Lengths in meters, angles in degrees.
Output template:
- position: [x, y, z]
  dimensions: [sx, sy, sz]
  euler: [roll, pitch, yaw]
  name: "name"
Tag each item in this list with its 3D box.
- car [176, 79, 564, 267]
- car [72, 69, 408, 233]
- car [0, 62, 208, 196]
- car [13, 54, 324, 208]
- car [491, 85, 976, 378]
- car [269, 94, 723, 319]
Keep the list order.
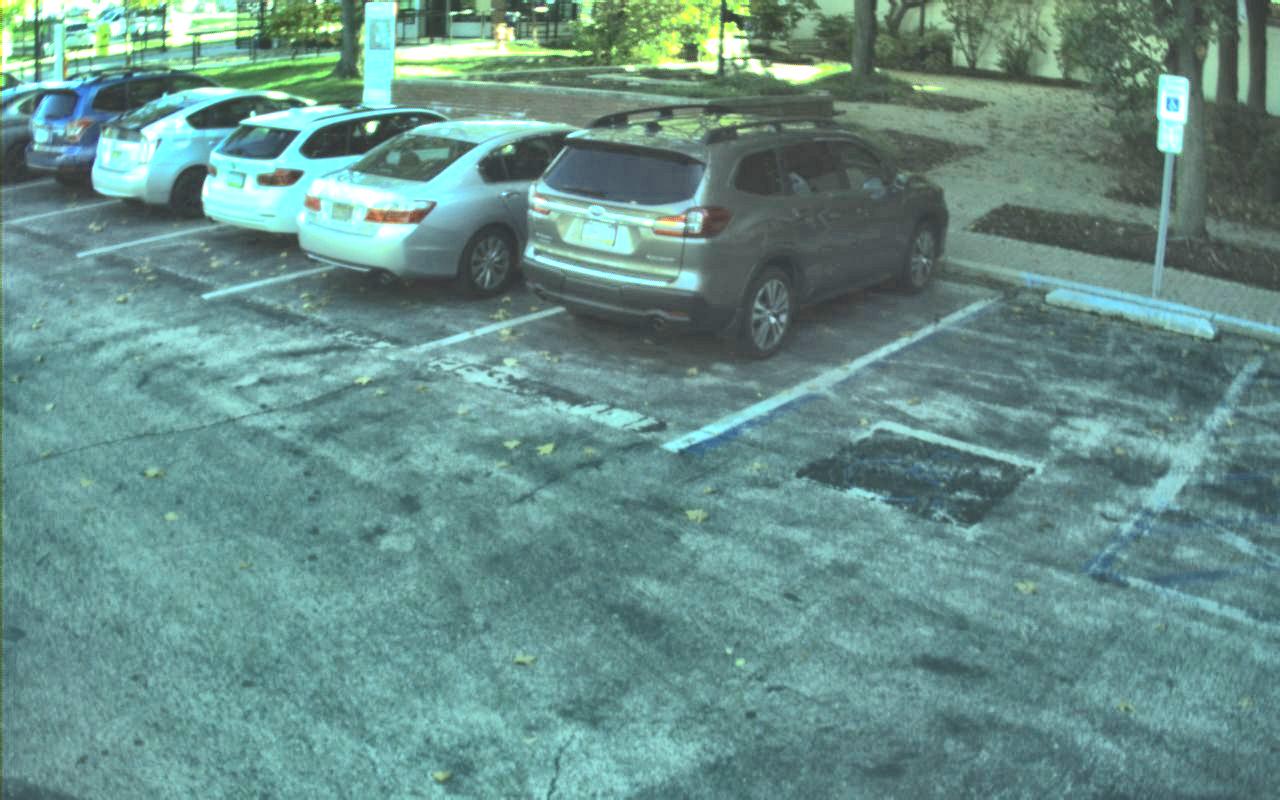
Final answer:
- position: [-3.026, -2.750, 14.101]
  dimensions: [1.904, 1.581, 4.357]
  euler: [11, 20, 36]
  name: "car"
- position: [-5.237, -3.353, 15.646]
  dimensions: [1.880, 1.580, 4.307]
  euler: [11, 20, 35]
  name: "car"
- position: [-9.407, -4.474, 18.558]
  dimensions: [1.939, 1.586, 4.440]
  euler: [11, 21, 37]
  name: "car"
- position: [-6.993, -4.021, 17.197]
  dimensions: [1.955, 1.687, 4.456]
  euler: [12, 21, 38]
  name: "car"
- position: [1.102, -1.737, 10.850]
  dimensions: [2.022, 1.767, 4.744]
  euler: [11, 20, 35]
  name: "car"
- position: [-1.250, -2.094, 12.249]
  dimensions: [1.915, 1.537, 4.476]
  euler: [11, 21, 37]
  name: "car"
